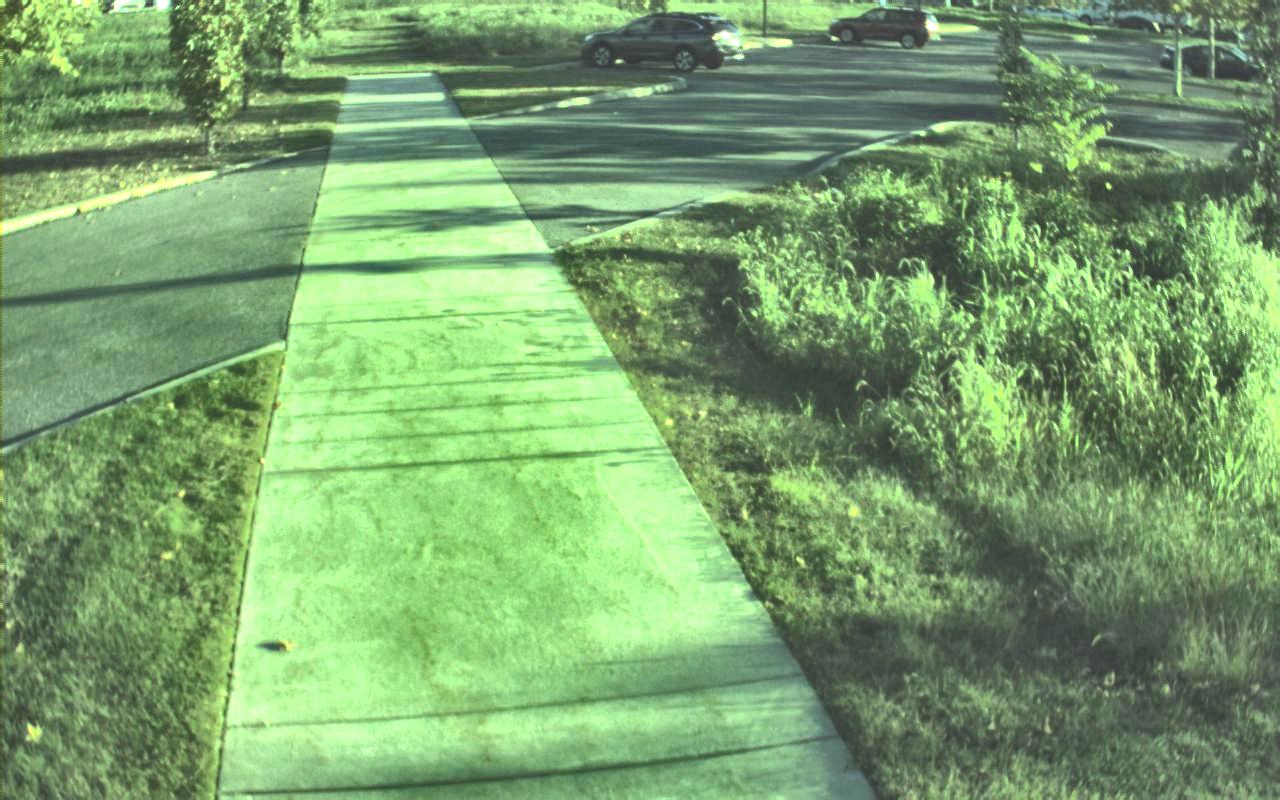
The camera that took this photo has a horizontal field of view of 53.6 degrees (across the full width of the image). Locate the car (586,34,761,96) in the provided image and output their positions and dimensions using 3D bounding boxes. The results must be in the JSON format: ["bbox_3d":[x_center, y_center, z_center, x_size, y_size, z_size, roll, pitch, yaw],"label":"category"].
[{"bbox_3d":[0.926,-9.585,35.393,4.665,1.696,1.978,10,18,34],"label":"car"}]

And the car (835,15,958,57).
[{"bbox_3d":[10.600,-15.004,49.892,4.778,1.648,2.004,7,17,27],"label":"car"}]
